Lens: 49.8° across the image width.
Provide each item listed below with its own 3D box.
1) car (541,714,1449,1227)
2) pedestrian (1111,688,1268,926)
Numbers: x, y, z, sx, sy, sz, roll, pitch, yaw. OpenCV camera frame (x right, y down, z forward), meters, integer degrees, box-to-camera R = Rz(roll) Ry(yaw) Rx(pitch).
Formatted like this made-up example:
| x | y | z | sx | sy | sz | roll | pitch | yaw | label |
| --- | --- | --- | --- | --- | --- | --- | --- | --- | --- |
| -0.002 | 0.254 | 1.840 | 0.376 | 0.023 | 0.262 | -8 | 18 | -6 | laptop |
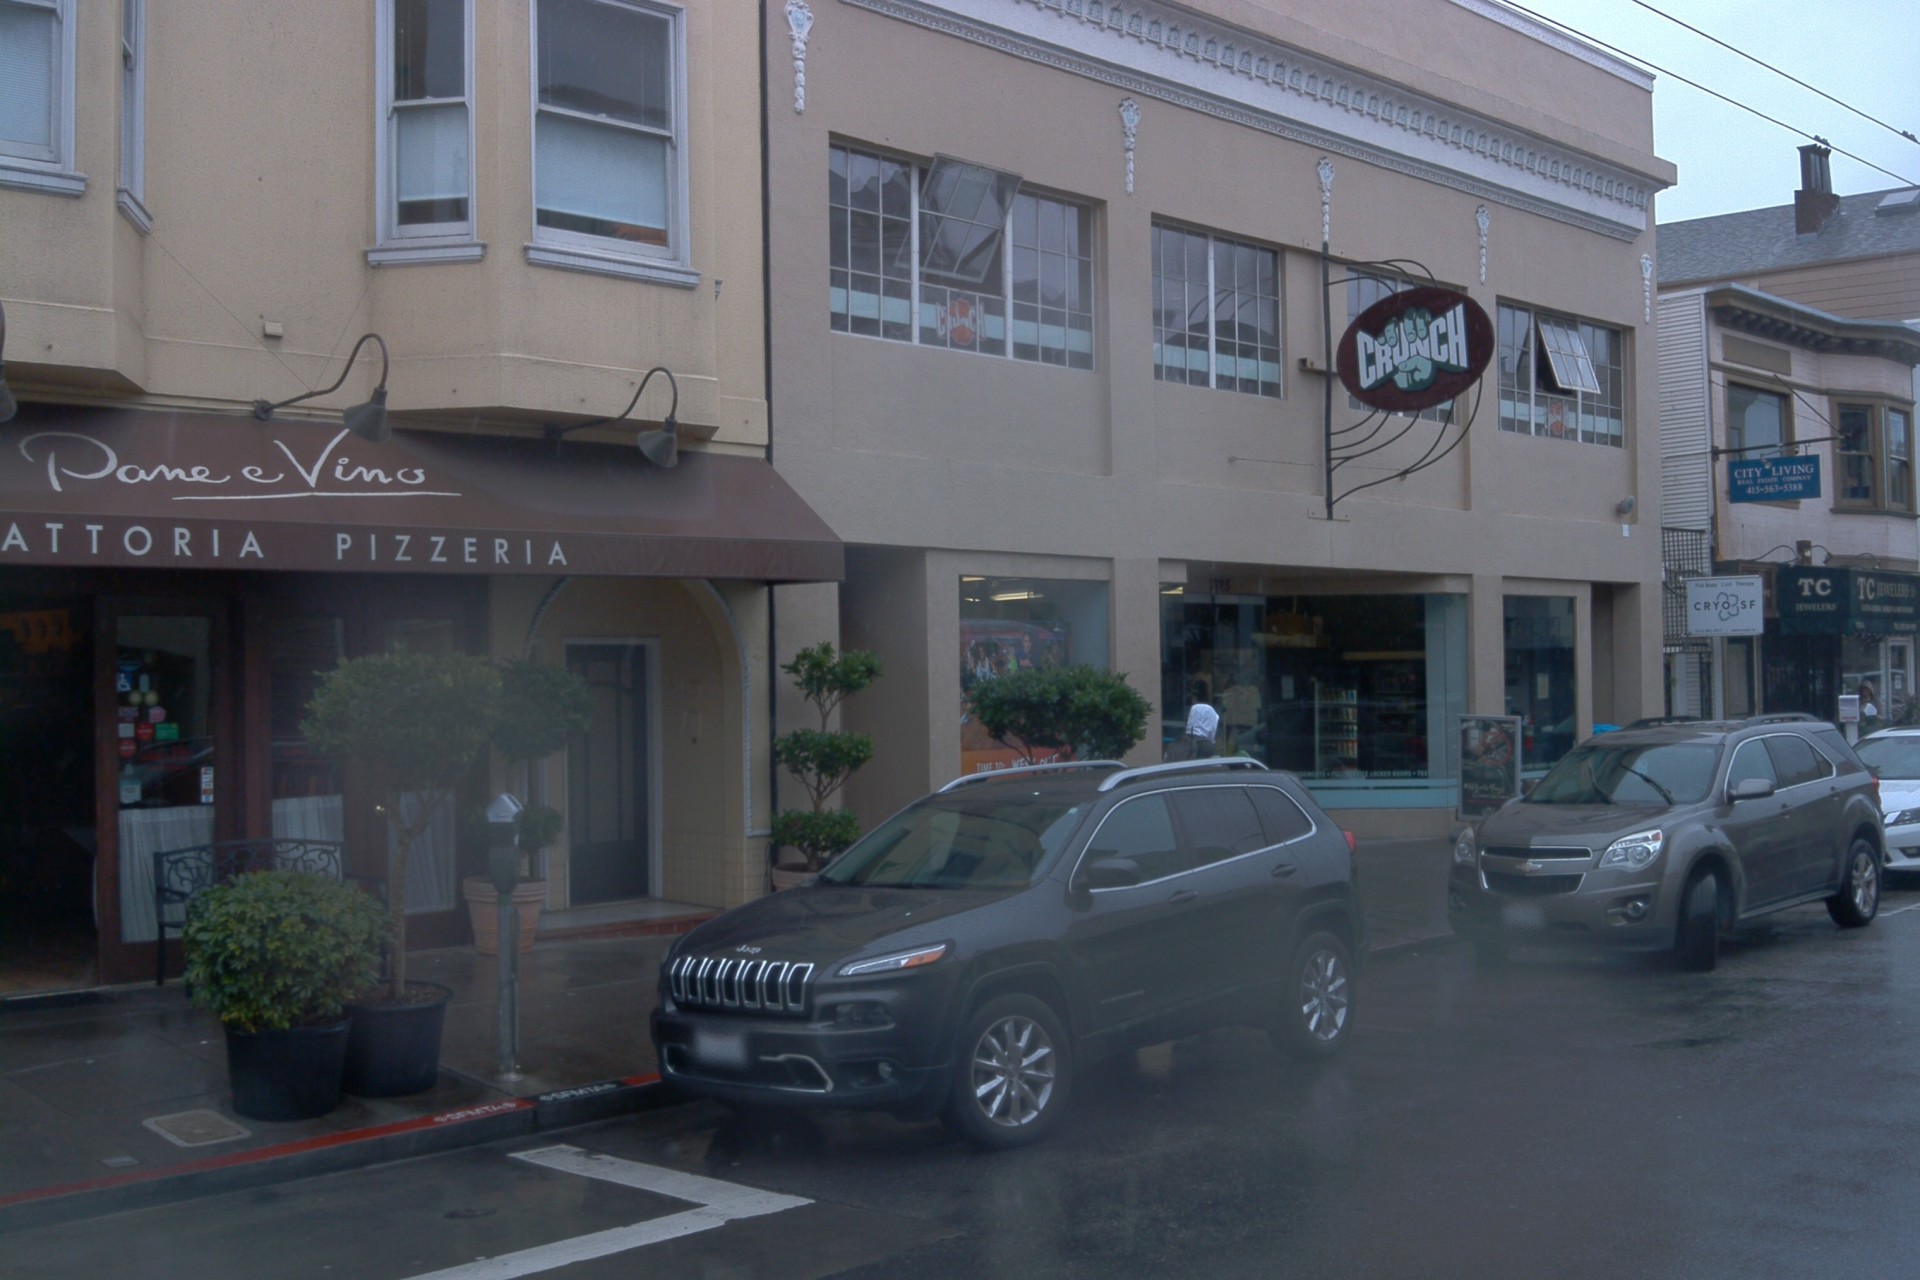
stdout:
| x | y | z | sx | sy | sz | roll | pitch | yaw | label |
| --- | --- | --- | --- | --- | --- | --- | --- | --- | --- |
| 0.443 | 1.413 | 10.814 | 2.113 | 1.830 | 4.891 | 2 | 1 | 40 | car |
| 1.847 | 1.309 | 16.608 | 0.729 | 1.800 | 1.056 | 2 | 1 | 45 | pedestrian |
